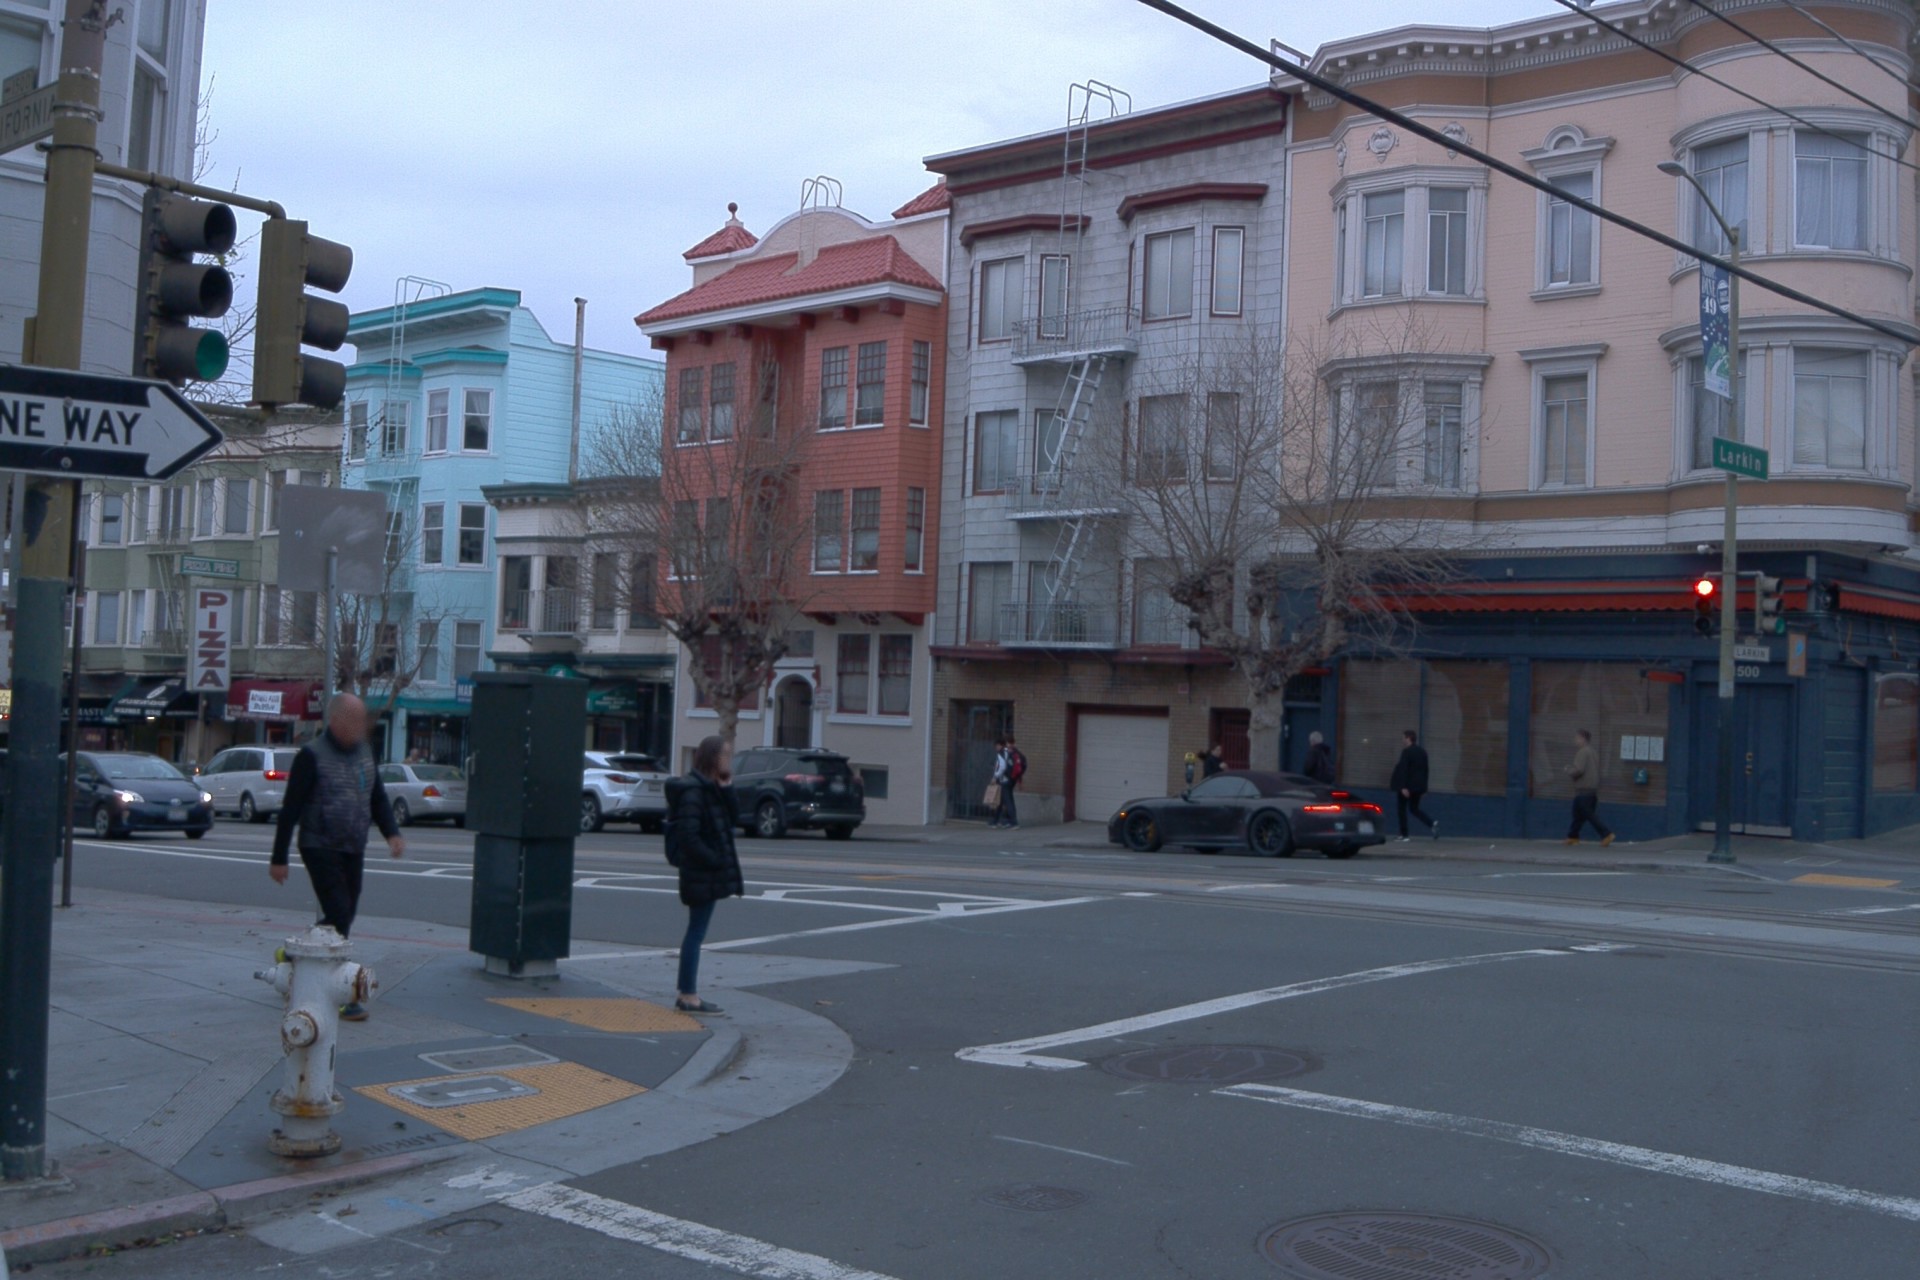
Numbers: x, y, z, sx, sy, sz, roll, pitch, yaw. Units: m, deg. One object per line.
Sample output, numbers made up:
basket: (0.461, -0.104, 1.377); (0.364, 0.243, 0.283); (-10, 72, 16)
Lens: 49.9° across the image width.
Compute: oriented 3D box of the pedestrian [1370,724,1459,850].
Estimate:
pedestrian: (7.301, 2.342, 33.168); (1.080, 1.913, 0.903); (1, 1, 43)

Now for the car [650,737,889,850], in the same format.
car: (-3.623, 2.825, 38.770); (4.423, 1.700, 2.100); (1, 1, 44)

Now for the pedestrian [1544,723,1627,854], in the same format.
pedestrian: (9.574, 2.259, 31.612); (0.946, 1.900, 0.789); (1, 1, 45)

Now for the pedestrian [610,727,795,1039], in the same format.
pedestrian: (-1.515, 1.391, 12.138); (0.846, 1.692, 0.707); (-1, 1, -35)

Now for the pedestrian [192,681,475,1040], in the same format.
pedestrian: (-3.313, 1.103, 10.908); (1.244, 1.716, 0.882); (1, 1, 40)

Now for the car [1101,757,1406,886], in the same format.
car: (4.281, 2.622, 30.588); (1.947, 1.460, 4.186); (-1, 1, -43)
